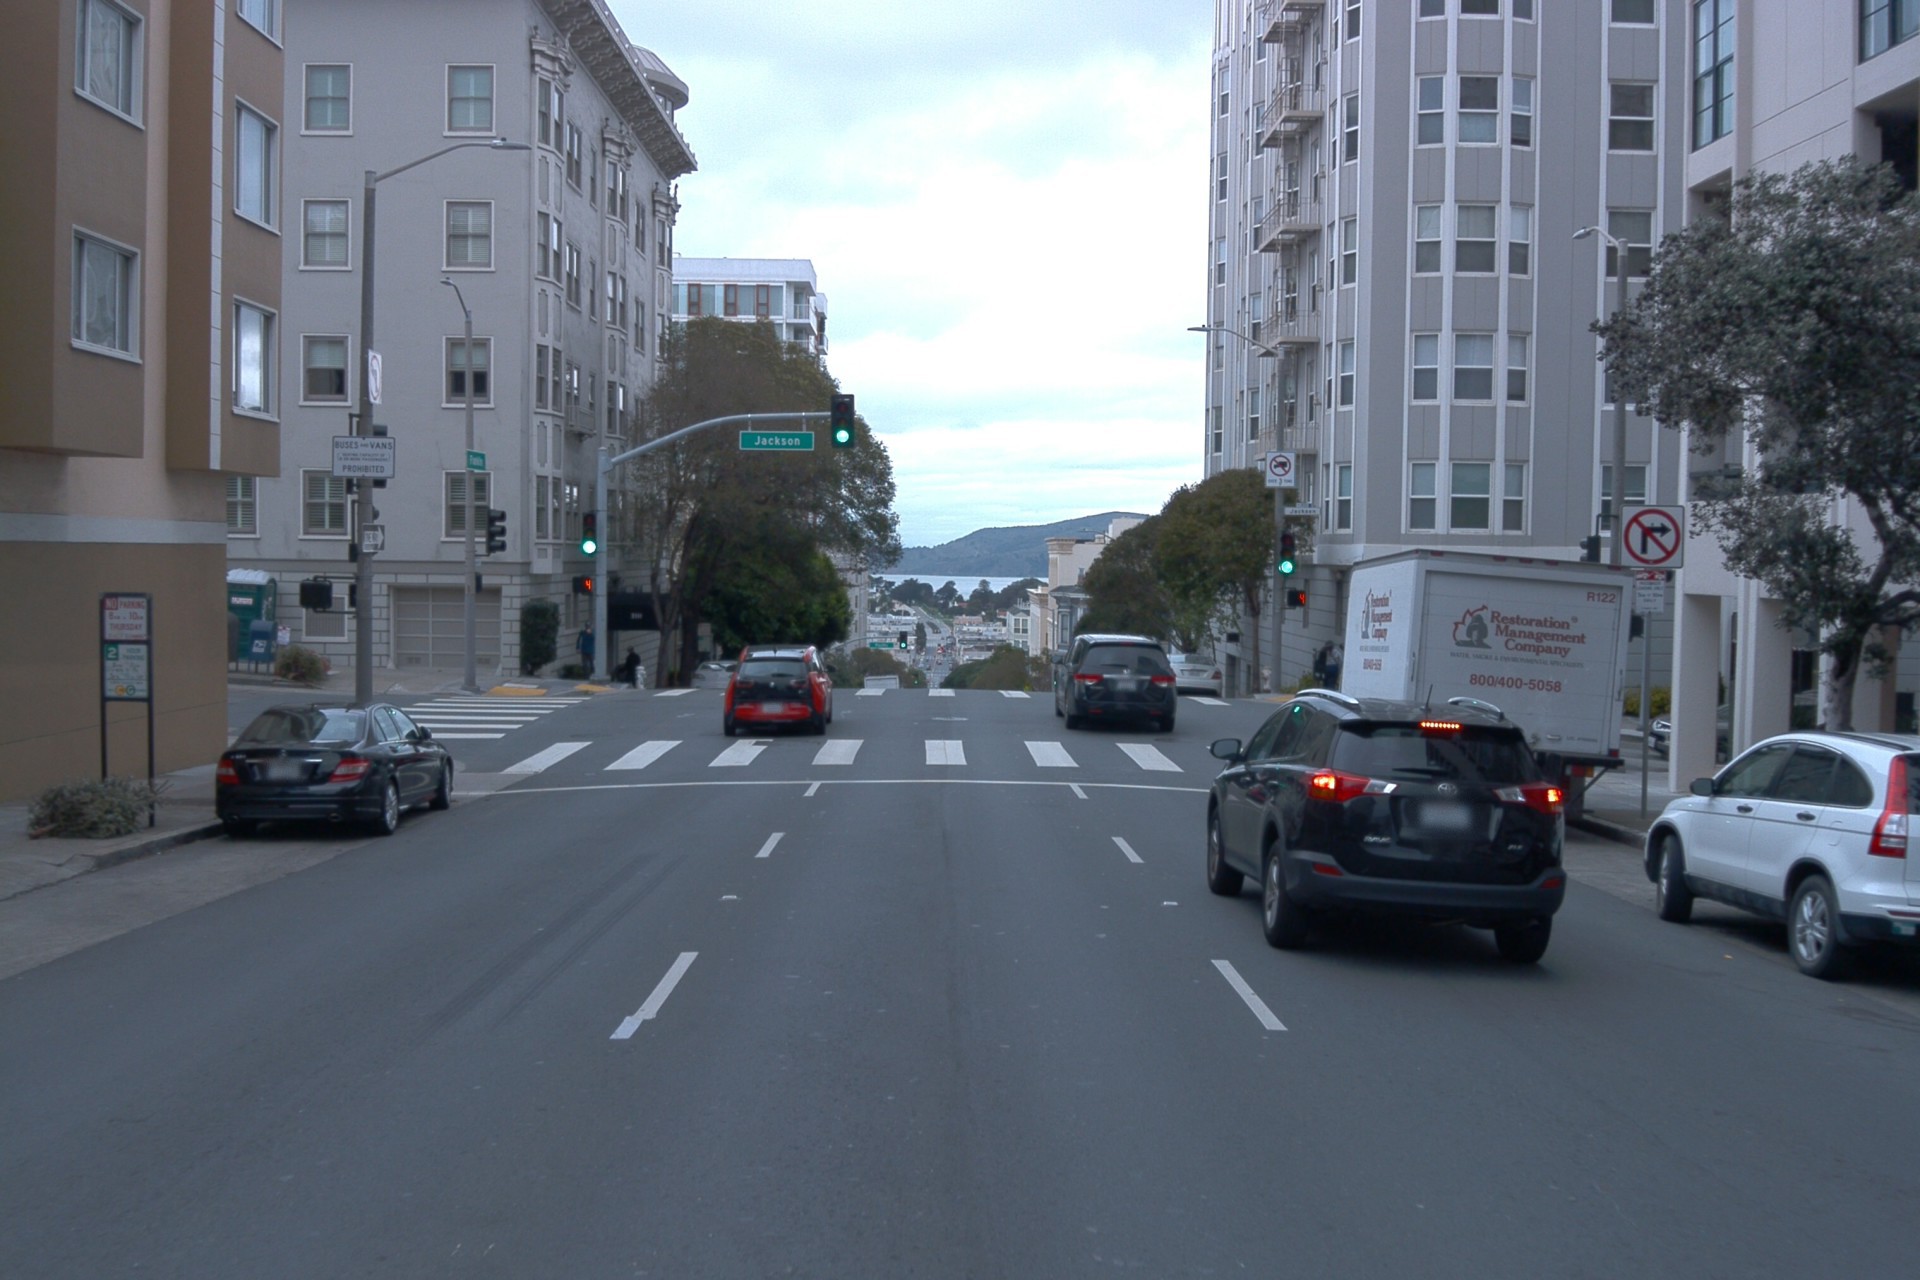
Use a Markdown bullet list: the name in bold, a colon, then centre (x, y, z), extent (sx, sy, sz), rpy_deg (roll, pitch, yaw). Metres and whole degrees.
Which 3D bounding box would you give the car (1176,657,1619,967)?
- **car**: centre (2.909, 1.068, 14.809), extent (2.147, 1.800, 4.643), rpy_deg (0, 1, -1)

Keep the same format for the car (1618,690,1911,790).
- **car**: centre (13.948, 1.713, 35.736), extent (4.238, 1.610, 2.193), rpy_deg (0, 1, -1)

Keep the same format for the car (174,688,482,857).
- **car**: centre (-6.899, 1.385, 22.967), extent (2.000, 1.530, 4.851), rpy_deg (0, 0, -1)

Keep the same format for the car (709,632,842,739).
- **car**: centre (-3.254, 0.762, 36.848), extent (2.065, 1.780, 4.070), rpy_deg (0, 1, -1)

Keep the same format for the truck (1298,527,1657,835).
- **truck**: centre (6.314, 0.421, 26.256), extent (2.894, 3.400, 7.062), rpy_deg (0, 1, 1)
